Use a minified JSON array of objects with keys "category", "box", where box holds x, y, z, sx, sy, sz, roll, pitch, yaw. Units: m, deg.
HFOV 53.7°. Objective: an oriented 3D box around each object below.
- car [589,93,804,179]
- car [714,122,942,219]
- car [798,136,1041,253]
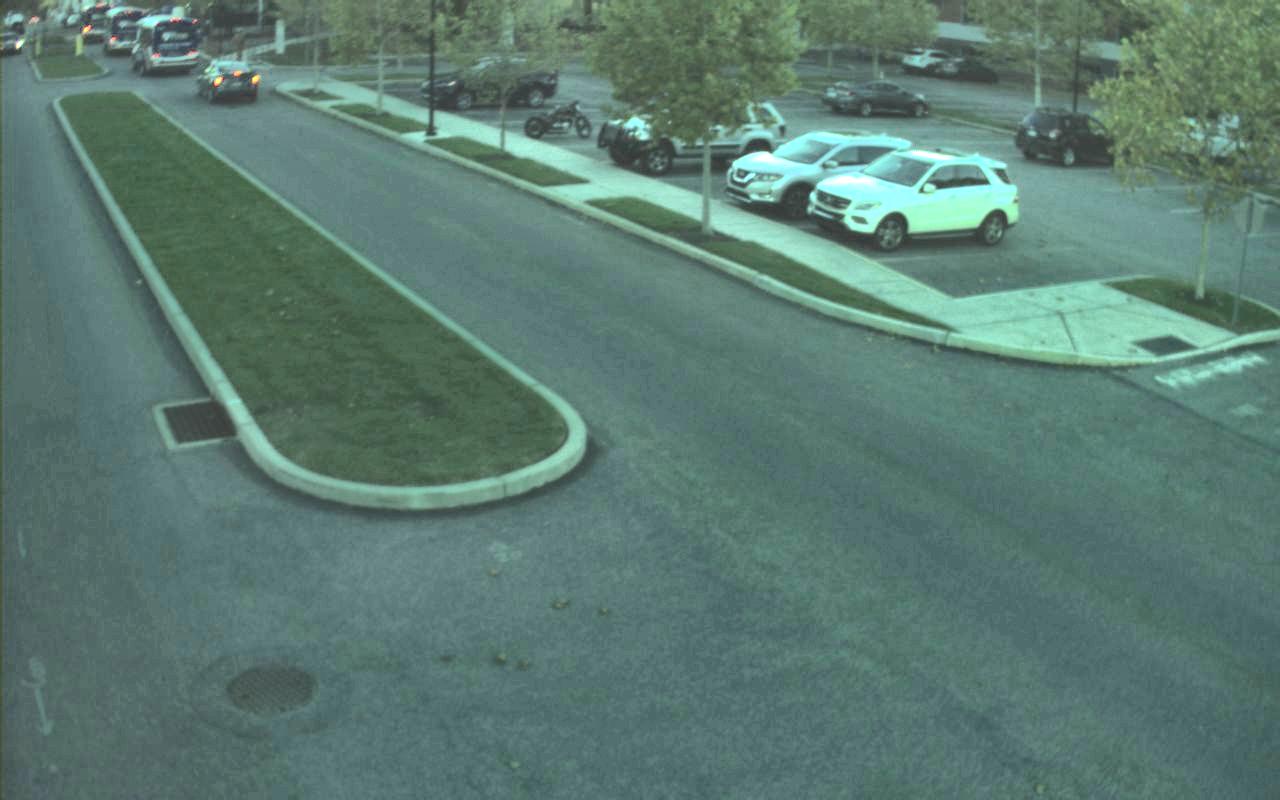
[{"category":"car","box":[1.411,-6.516,30.490,4.896,1.785,2.065,-9,18,-27]},{"category":"car","box":[4.065,-4.946,26.418,4.664,1.660,2.003,-10,18,-28]},{"category":"car","box":[5.613,-4.162,24.348,4.815,1.828,2.057,-10,18,-30]}]
